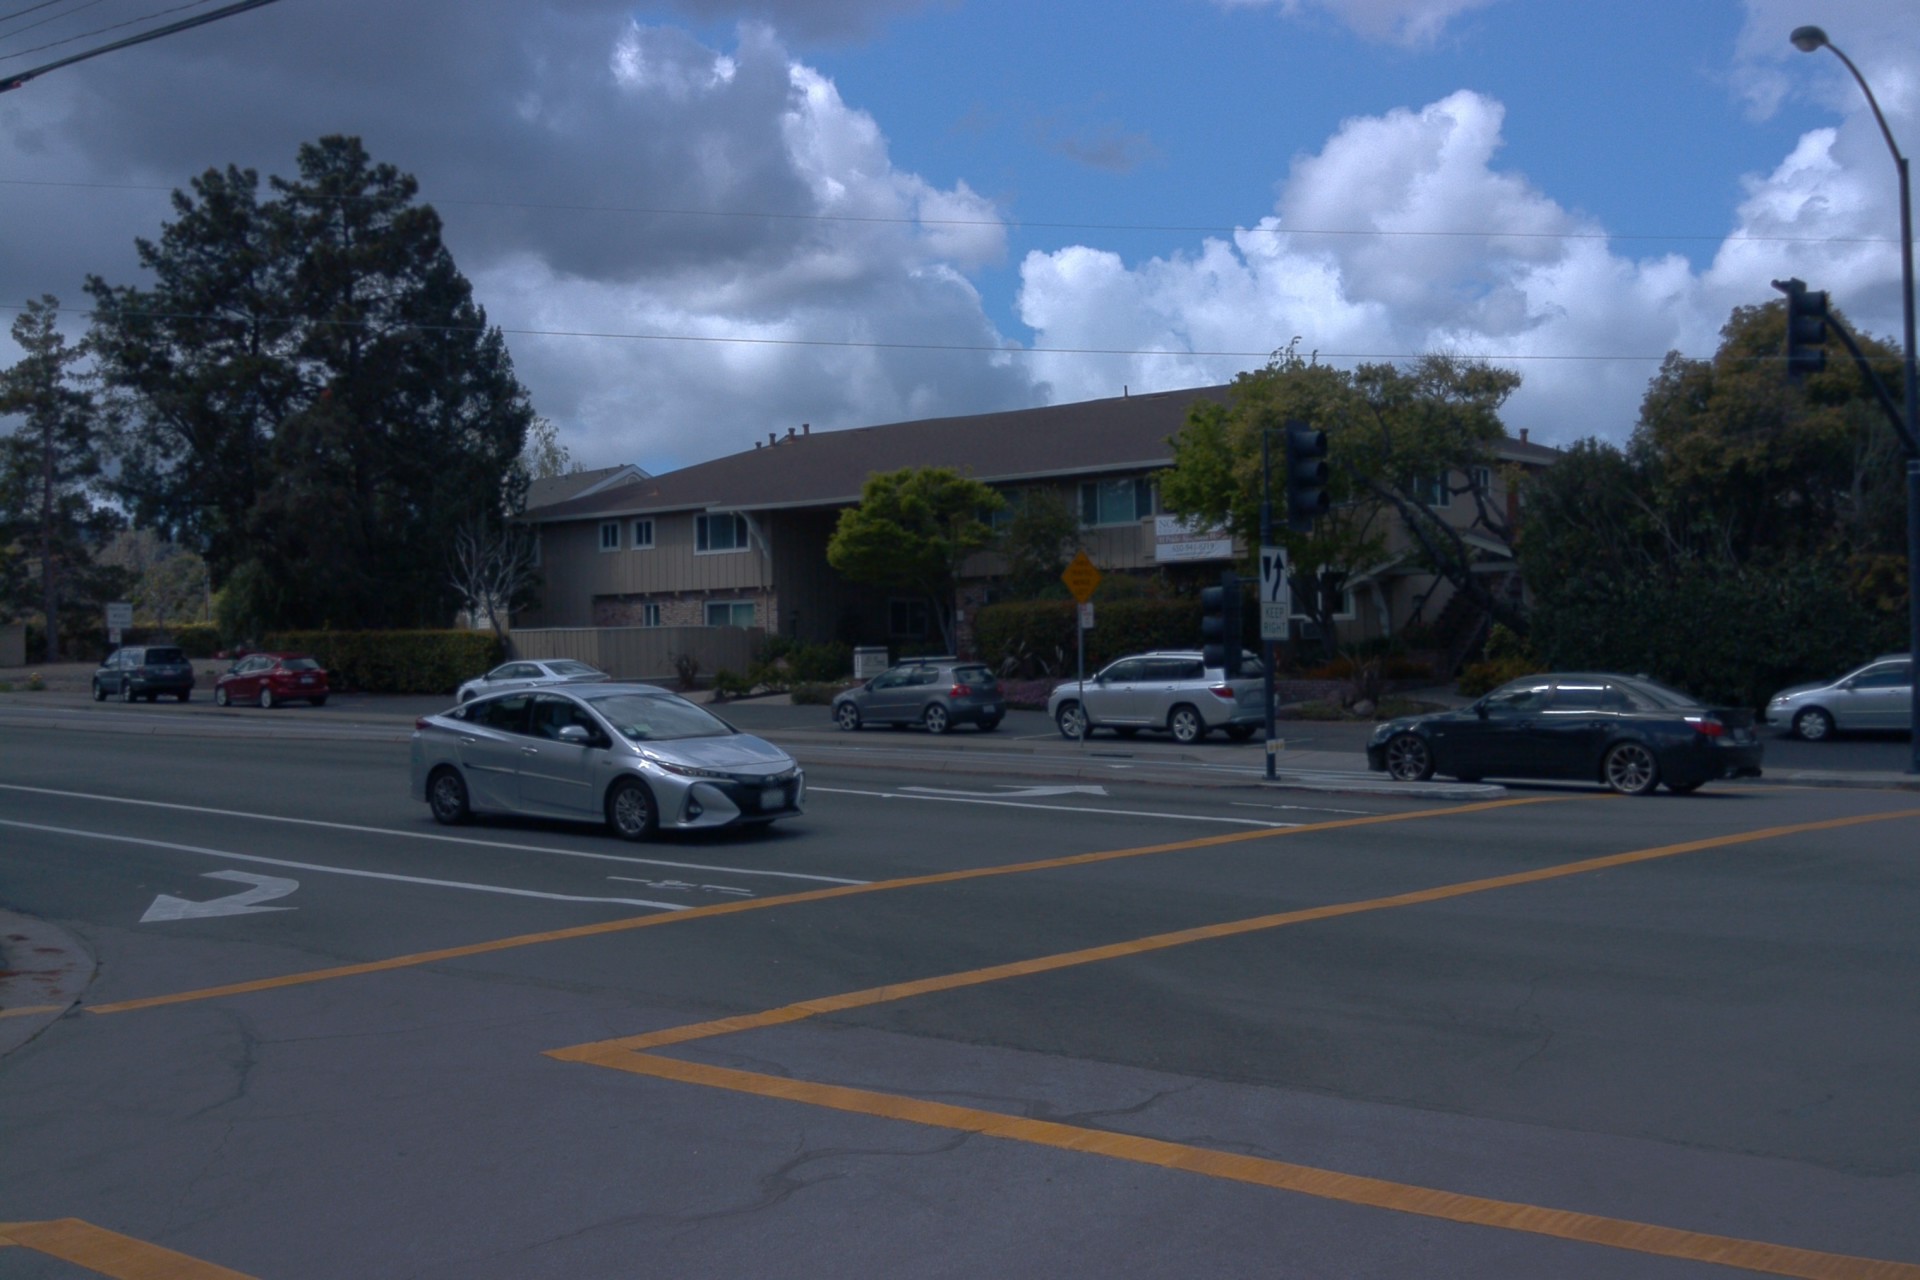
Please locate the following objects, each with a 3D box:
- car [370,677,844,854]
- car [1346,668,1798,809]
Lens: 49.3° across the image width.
[{"bbox_3d":[-3.641,1.171,21.074,4.789,1.510,2.026,0,0,39],"label":"car"},{"bbox_3d":[7.370,1.120,25.432,4.803,1.490,2.146,0,0,40],"label":"car"}]
